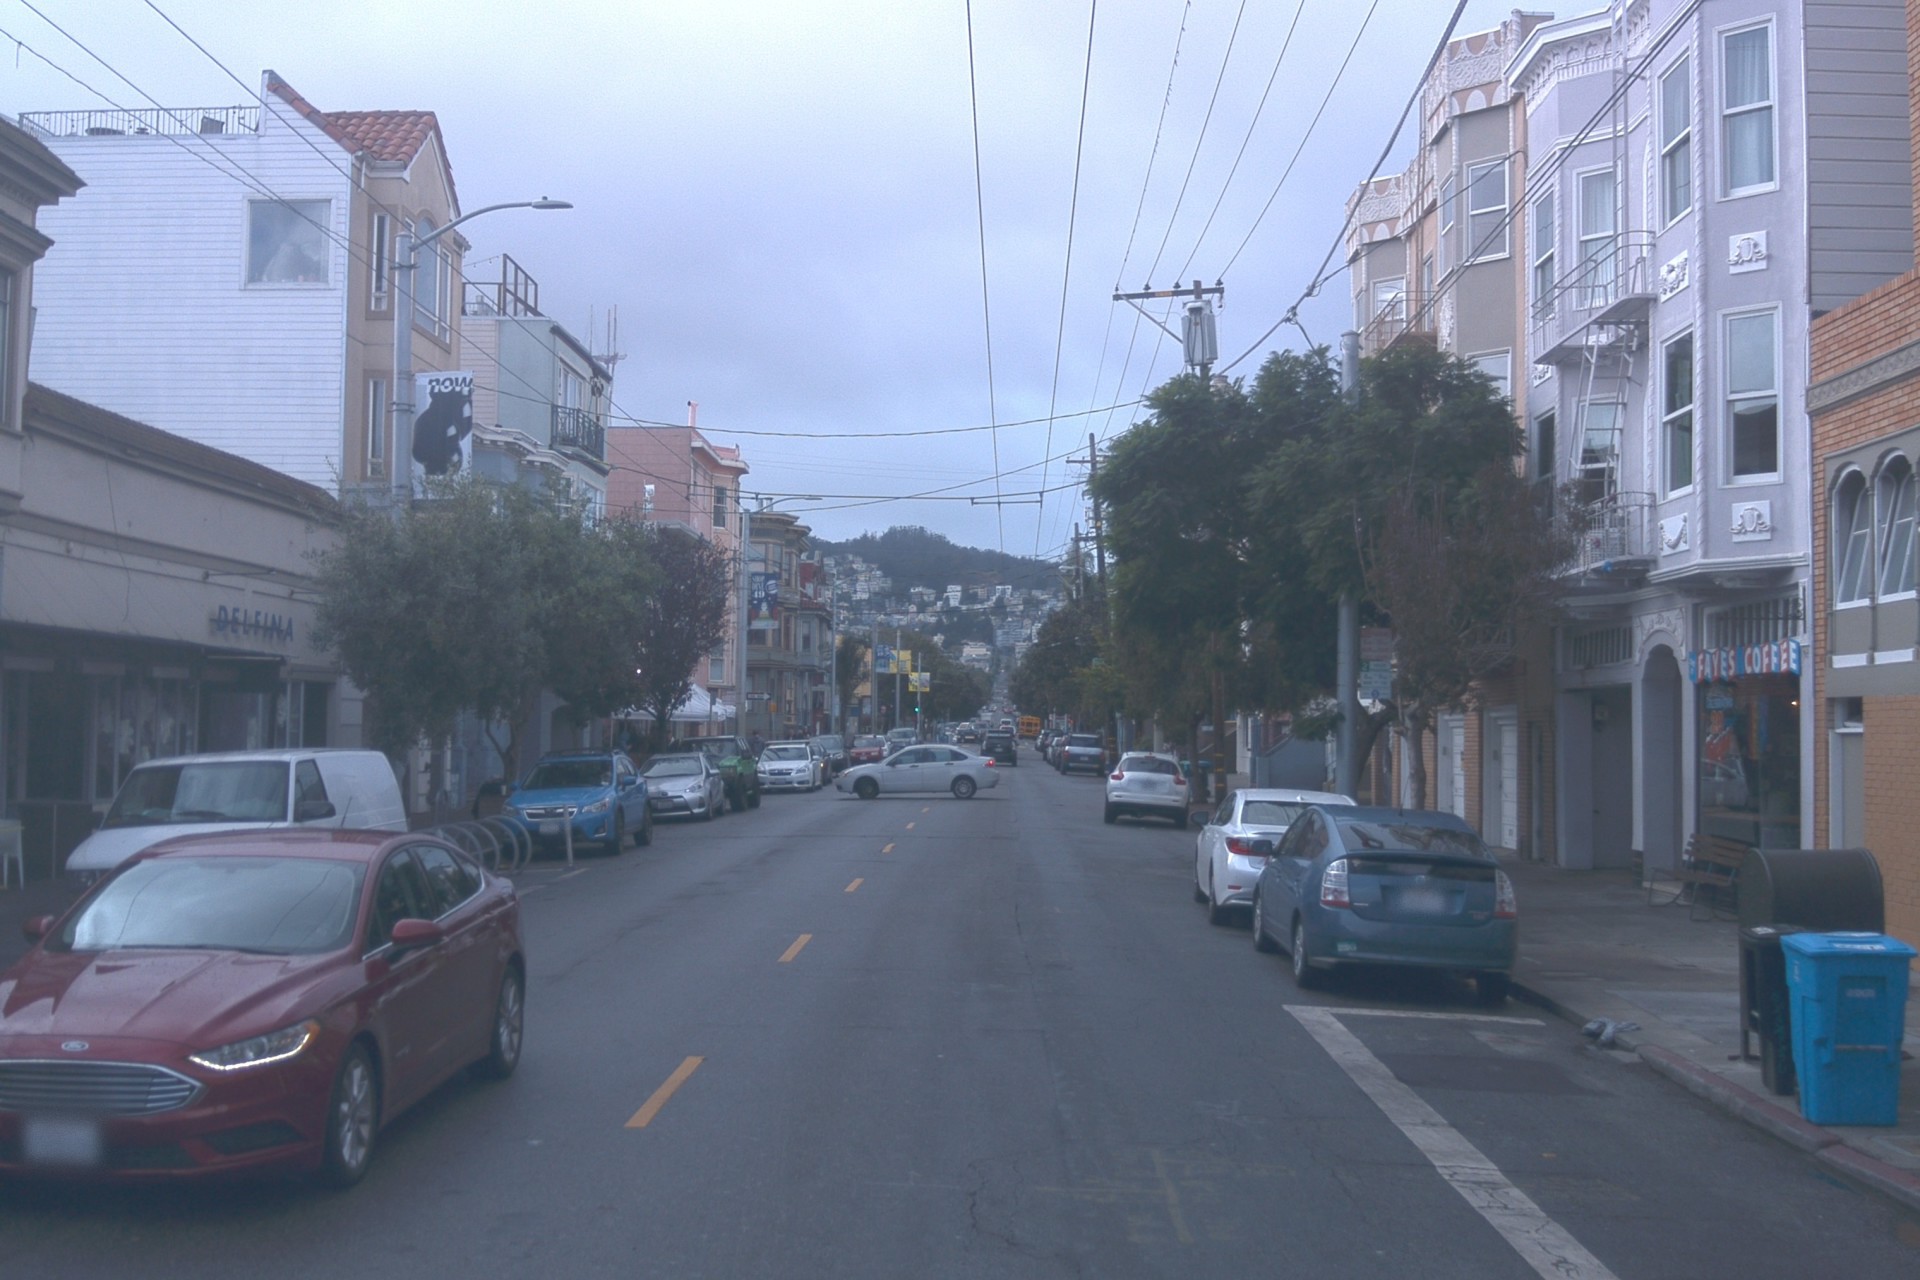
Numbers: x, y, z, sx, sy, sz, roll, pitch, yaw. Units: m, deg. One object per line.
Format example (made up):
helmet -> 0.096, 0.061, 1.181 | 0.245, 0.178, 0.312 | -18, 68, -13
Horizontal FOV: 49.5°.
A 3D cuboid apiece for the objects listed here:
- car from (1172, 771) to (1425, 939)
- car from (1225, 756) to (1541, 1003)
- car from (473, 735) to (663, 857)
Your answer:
car -> 3.624, 2.292, 23.240 | 2.162, 1.460, 4.919 | 1, -2, 2
car -> 3.533, 1.957, 18.233 | 2.039, 1.730, 4.444 | 1, -2, 3
car -> -6.065, 2.388, 32.772 | 2.059, 1.660, 4.380 | 1, -2, 1
